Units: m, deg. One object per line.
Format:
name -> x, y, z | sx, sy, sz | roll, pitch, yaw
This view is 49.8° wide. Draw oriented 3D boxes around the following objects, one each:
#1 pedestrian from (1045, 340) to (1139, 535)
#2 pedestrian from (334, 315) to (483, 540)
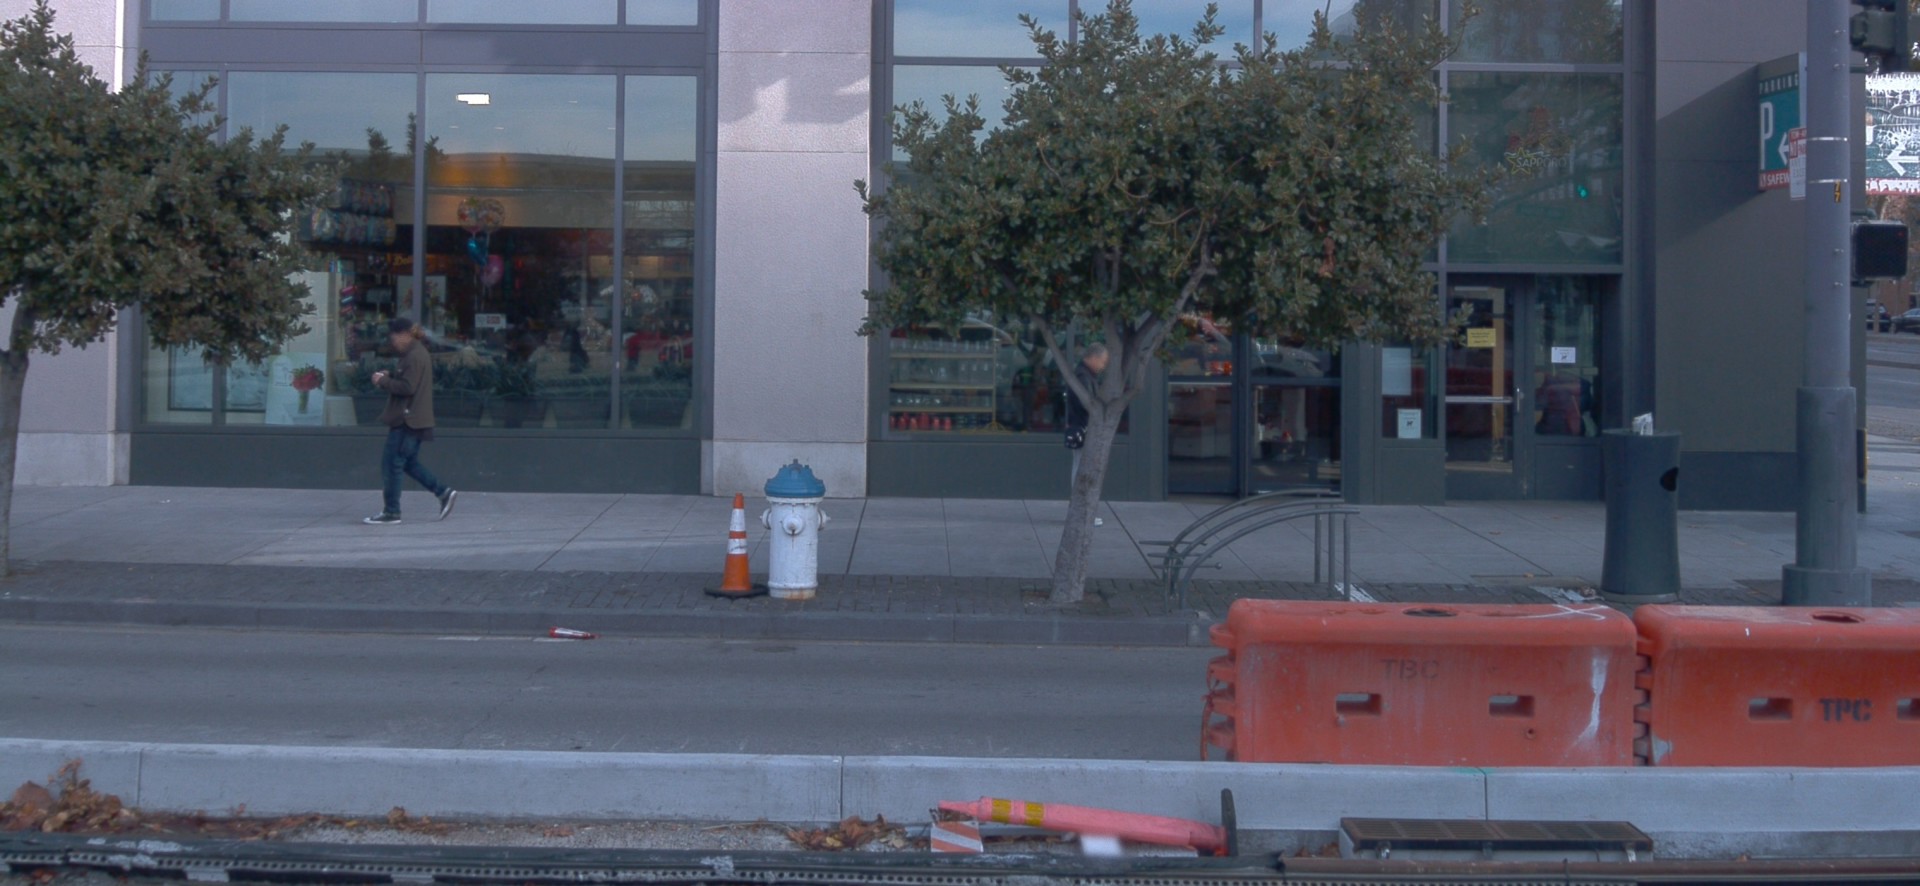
pedestrian -> 1.153, -0.064, 18.171 | 0.683, 1.627, 0.774 | 1, 1, -4
pedestrian -> -4.668, -0.155, 17.578 | 1.000, 1.815, 0.864 | 1, 1, -1
